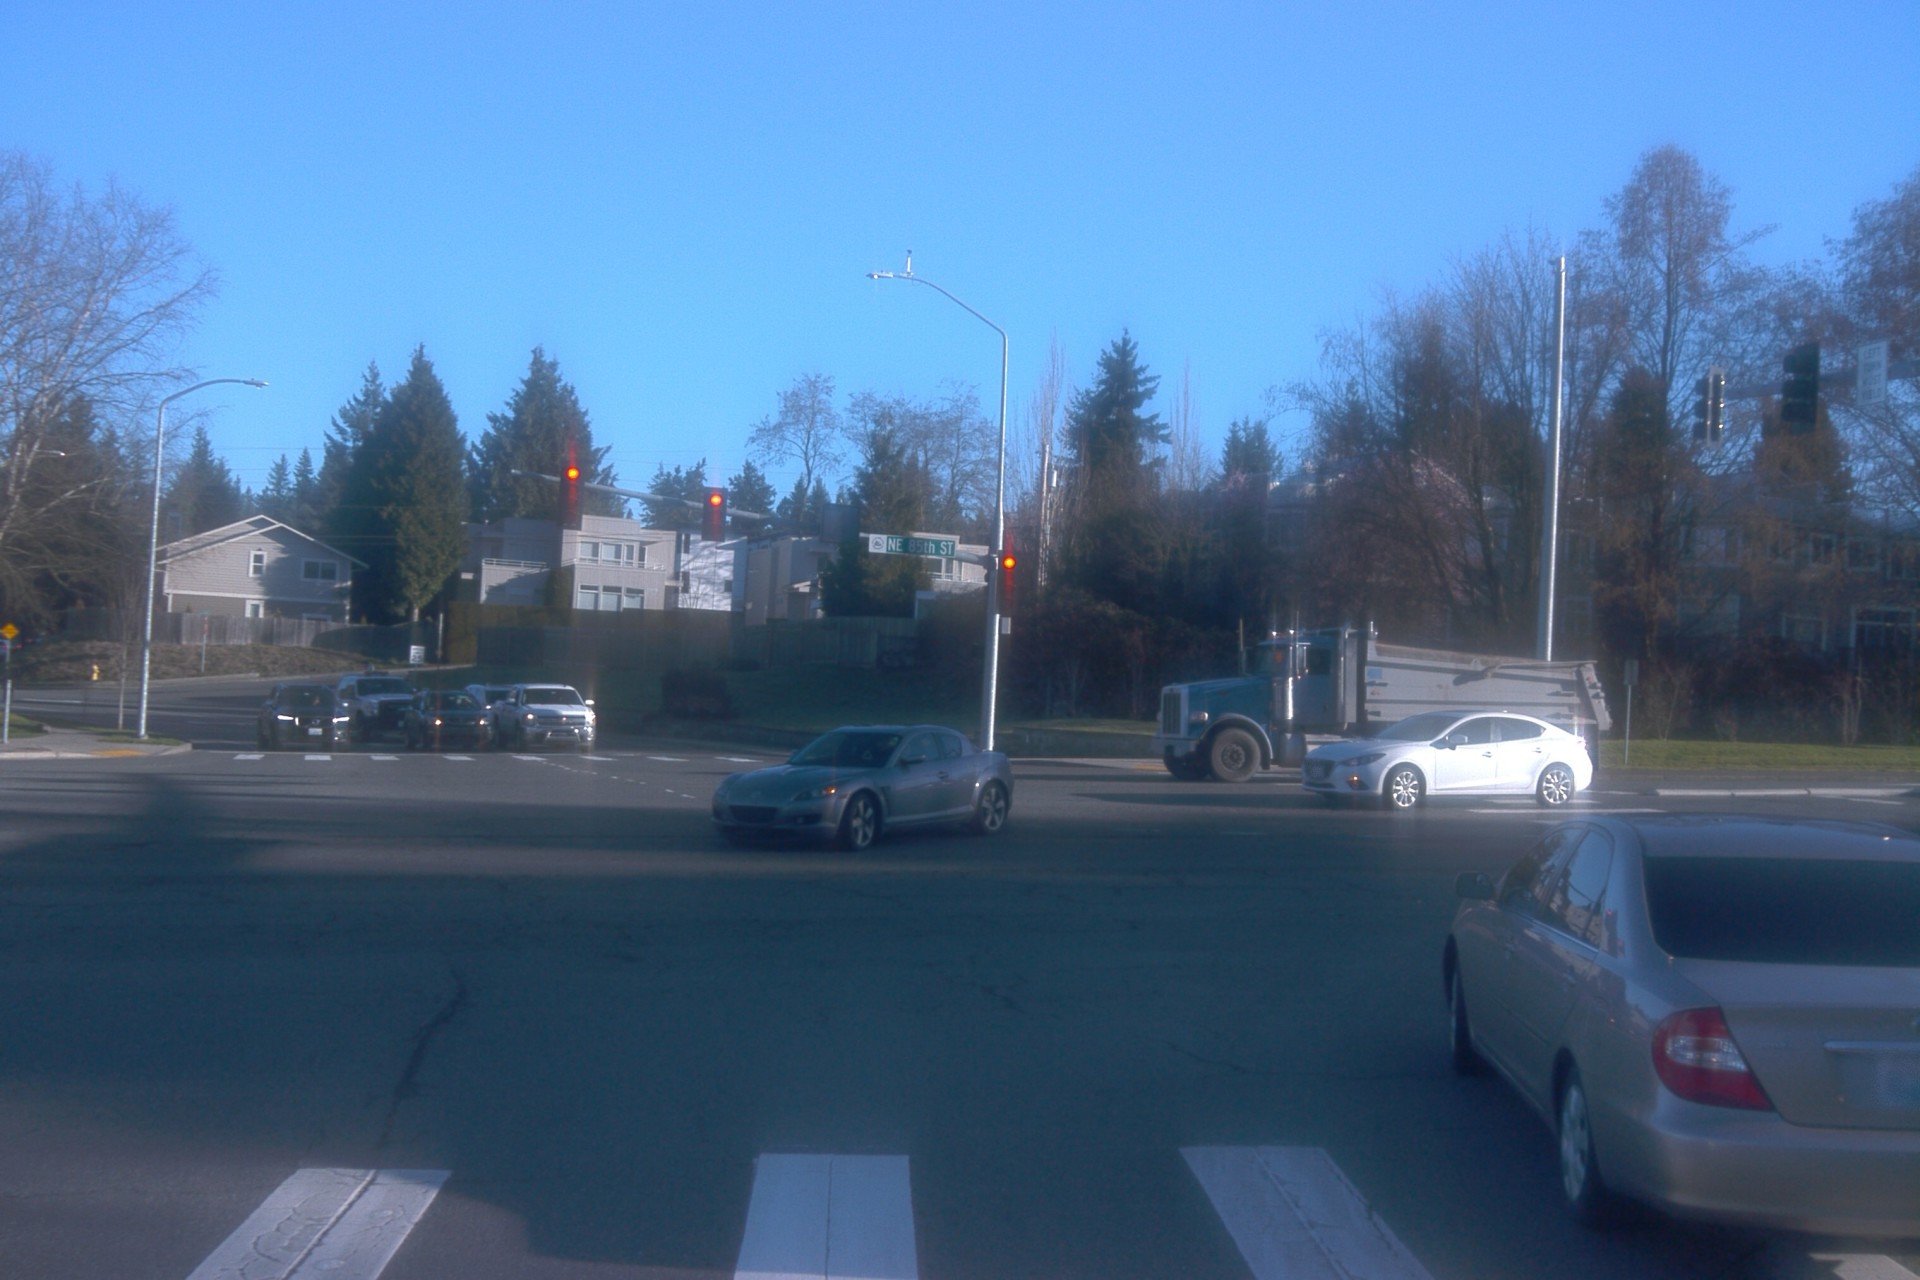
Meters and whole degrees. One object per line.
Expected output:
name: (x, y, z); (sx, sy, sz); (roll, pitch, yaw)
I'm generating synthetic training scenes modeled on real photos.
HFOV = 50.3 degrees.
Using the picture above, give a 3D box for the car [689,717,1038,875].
car: (-0.997, 1.700, 23.490); (1.814, 1.450, 4.305); (1, 0, 33)

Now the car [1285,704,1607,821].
car: (7.320, 1.797, 30.771); (4.389, 1.570, 2.010); (1, 0, -24)
